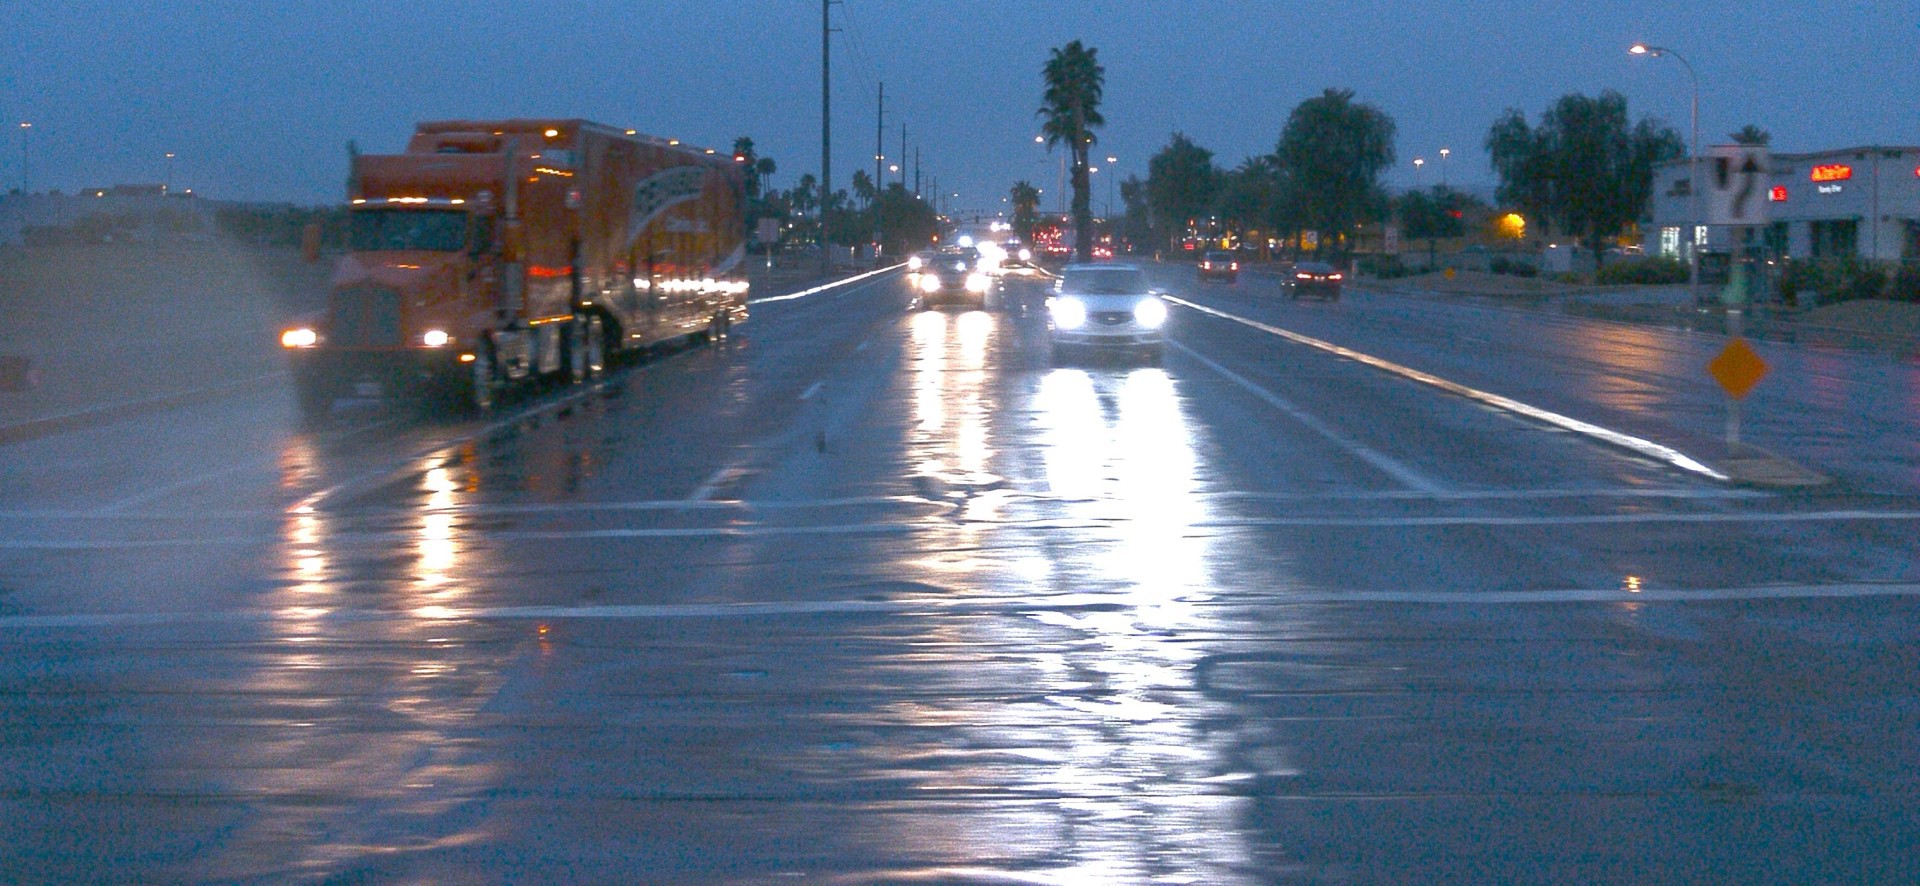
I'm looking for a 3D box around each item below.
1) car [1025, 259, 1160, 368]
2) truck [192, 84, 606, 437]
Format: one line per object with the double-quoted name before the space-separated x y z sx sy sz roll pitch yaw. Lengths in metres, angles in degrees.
"car" 2.348 -2.439 38.089 2.289 1.773 4.939 1 5 1
"truck" -7.563 -2.660 29.577 3.098 4.265 8.614 1 5 3
